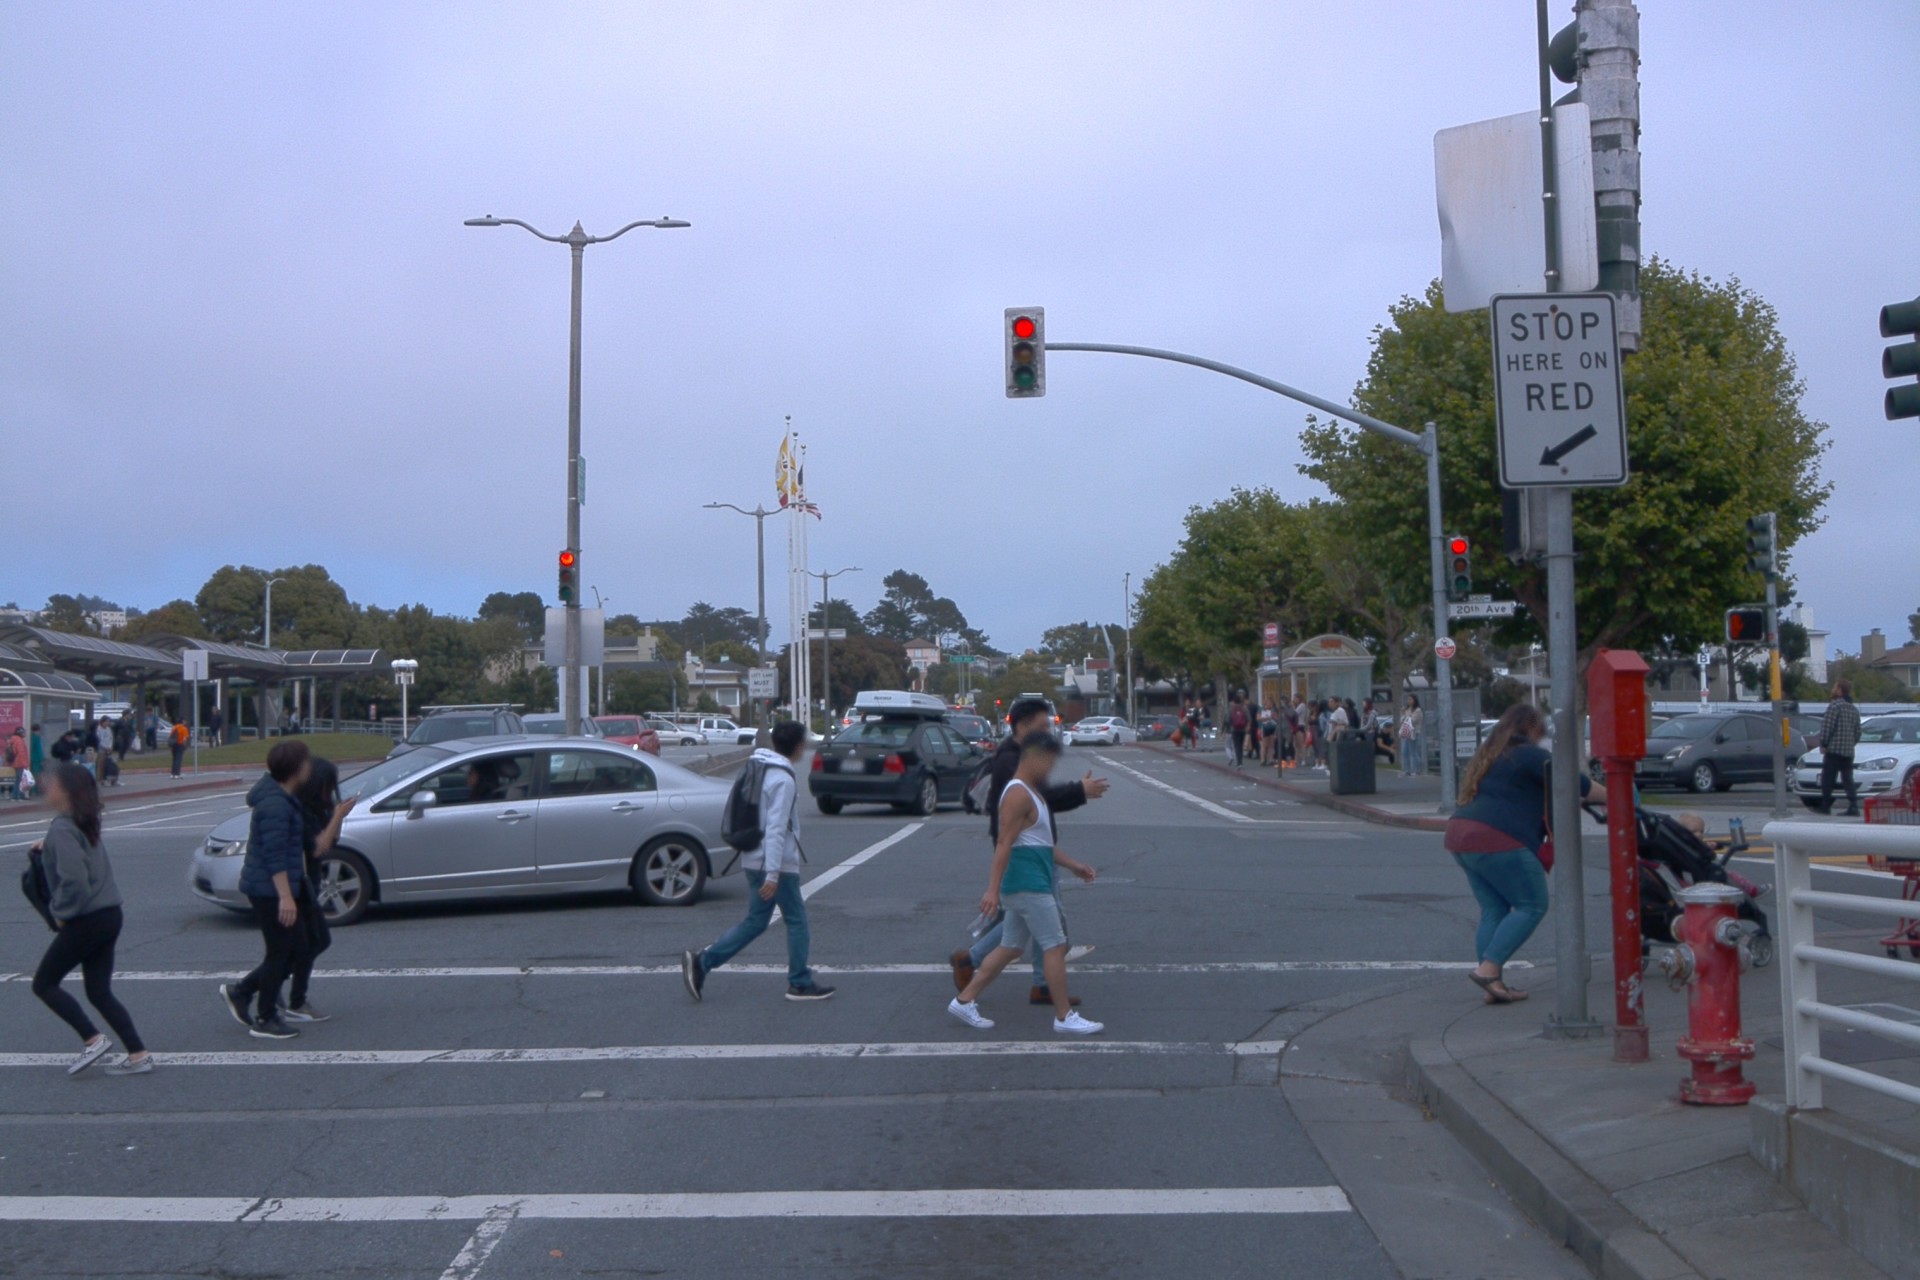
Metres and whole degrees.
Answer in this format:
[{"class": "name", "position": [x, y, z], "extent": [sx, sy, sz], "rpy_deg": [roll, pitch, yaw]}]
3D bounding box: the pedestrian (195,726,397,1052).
[{"class": "pedestrian", "position": [-3.568, 1.317, 11.101], "extent": [0.962, 1.660, 0.601], "rpy_deg": [0, 1, -10]}]

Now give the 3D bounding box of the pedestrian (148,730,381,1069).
[{"class": "pedestrian", "position": [-3.571, 1.312, 10.618], "extent": [0.994, 1.650, 0.666], "rpy_deg": [0, 1, -3]}]

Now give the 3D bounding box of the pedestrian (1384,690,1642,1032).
[{"class": "pedestrian", "position": [2.945, 1.144, 10.994], "extent": [1.128, 1.710, 0.707], "rpy_deg": [0, 1, -15]}]

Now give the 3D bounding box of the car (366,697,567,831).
[{"class": "car", "position": [-8.207, 2.007, 34.628], "extent": [2.080, 1.920, 4.561], "rpy_deg": [0, 1, 3]}]

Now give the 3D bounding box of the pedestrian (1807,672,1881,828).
[{"class": "pedestrian", "position": [11.126, 1.373, 25.868], "extent": [0.621, 1.900, 0.739], "rpy_deg": [1, 1, 44]}]

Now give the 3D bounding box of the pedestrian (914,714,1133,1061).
[{"class": "pedestrian", "position": [0.340, 1.234, 10.567], "extent": [1.014, 1.670, 0.737], "rpy_deg": [0, 1, 12]}]

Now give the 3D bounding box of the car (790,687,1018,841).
[{"class": "car", "position": [-0.758, 1.803, 31.382], "extent": [1.883, 2.000, 4.355], "rpy_deg": [0, 1, 22]}]

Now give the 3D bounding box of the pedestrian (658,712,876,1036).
[{"class": "pedestrian", "position": [-1.102, 1.270, 11.557], "extent": [1.048, 1.670, 0.929], "rpy_deg": [0, 1, -16]}]

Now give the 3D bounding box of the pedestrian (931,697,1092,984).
[{"class": "pedestrian", "position": [0.311, 1.235, 12.893], "extent": [0.940, 1.720, 0.669], "rpy_deg": [0, 1, -4]}]

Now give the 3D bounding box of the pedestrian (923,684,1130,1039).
[{"class": "pedestrian", "position": [0.385, 1.172, 11.327], "extent": [1.005, 1.830, 0.937], "rpy_deg": [0, 1, 11]}]

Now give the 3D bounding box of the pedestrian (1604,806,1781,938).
[{"class": "pedestrian", "position": [4.003, 1.259, 11.245], "extent": [0.769, 0.640, 0.482], "rpy_deg": [0, 1, -16]}]

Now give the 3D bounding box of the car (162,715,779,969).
[{"class": "car", "position": [-3.941, 1.519, 16.686], "extent": [4.468, 1.620, 2.032], "rpy_deg": [-1, 1, -29]}]
